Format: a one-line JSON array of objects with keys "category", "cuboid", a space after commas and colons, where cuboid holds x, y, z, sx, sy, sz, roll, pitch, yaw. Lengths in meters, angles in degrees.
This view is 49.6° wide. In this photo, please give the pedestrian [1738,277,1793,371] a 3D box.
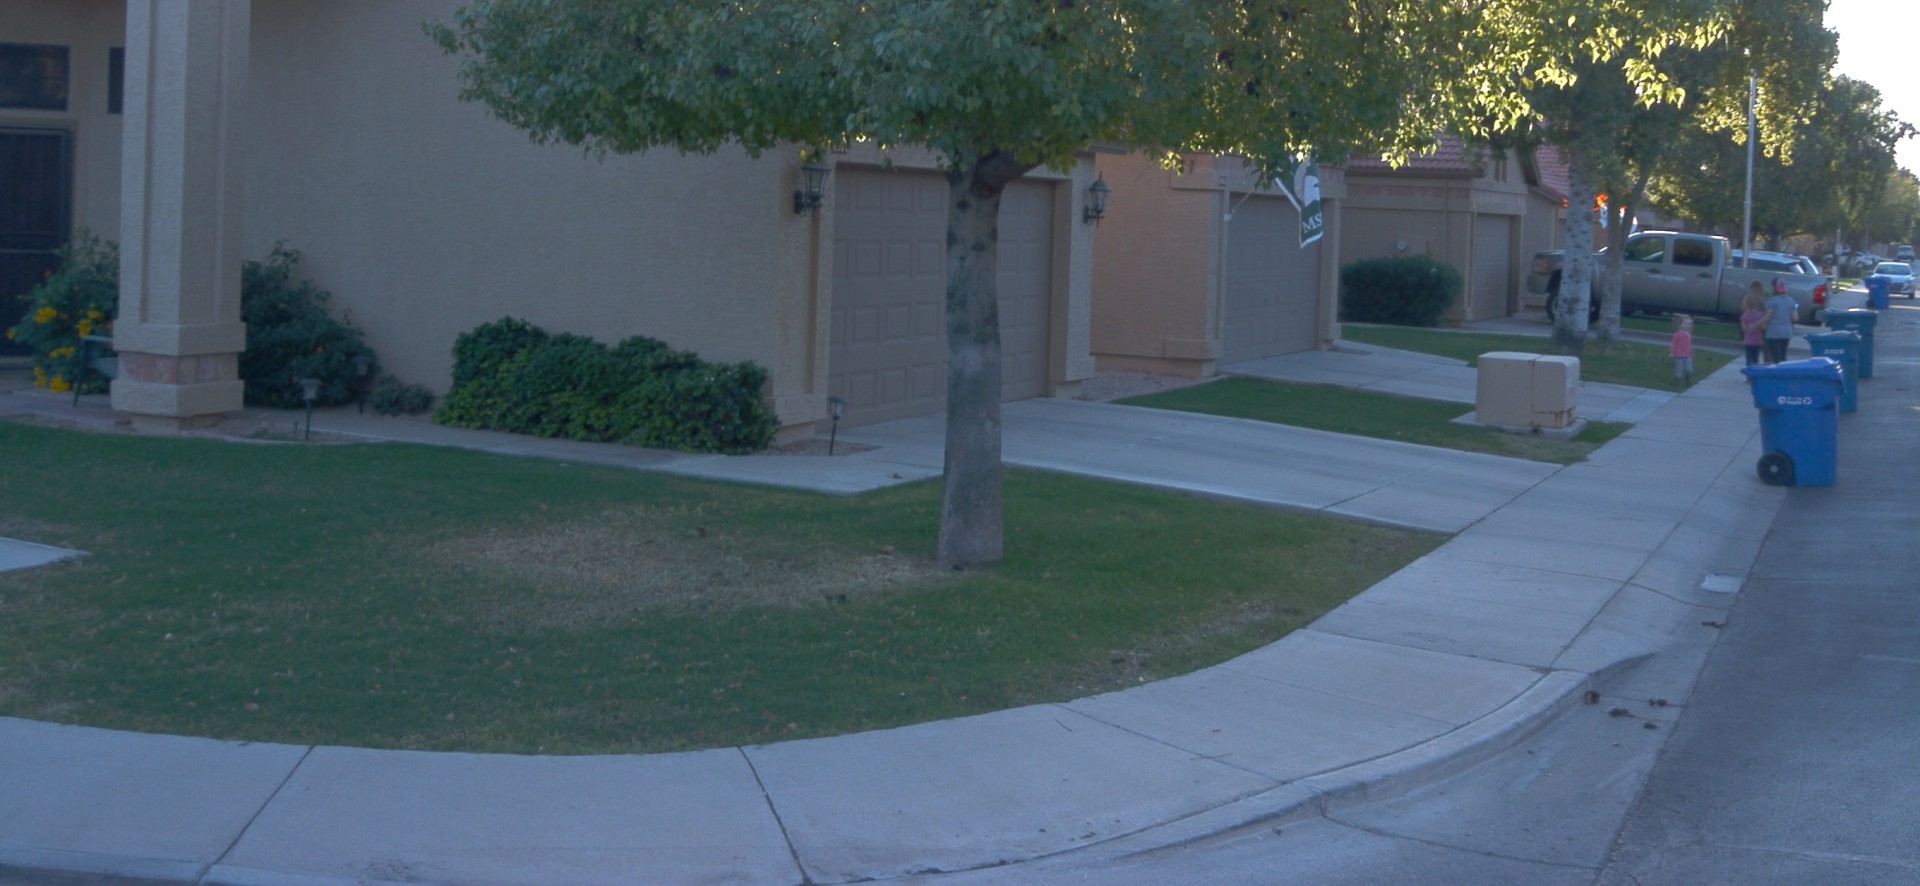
[{"category": "pedestrian", "cuboid": [11.439, -1.702, 29.470, 0.662, 1.277, 0.694, 1, 3, 25]}]

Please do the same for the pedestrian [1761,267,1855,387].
[{"category": "pedestrian", "cuboid": [11.815, -1.632, 28.917, 0.946, 1.617, 0.757, -1, 2, -27]}]

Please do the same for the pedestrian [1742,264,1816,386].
[{"category": "pedestrian", "cuboid": [11.740, -1.706, 29.737, 0.774, 1.687, 0.751, 2, 3, 40]}]
